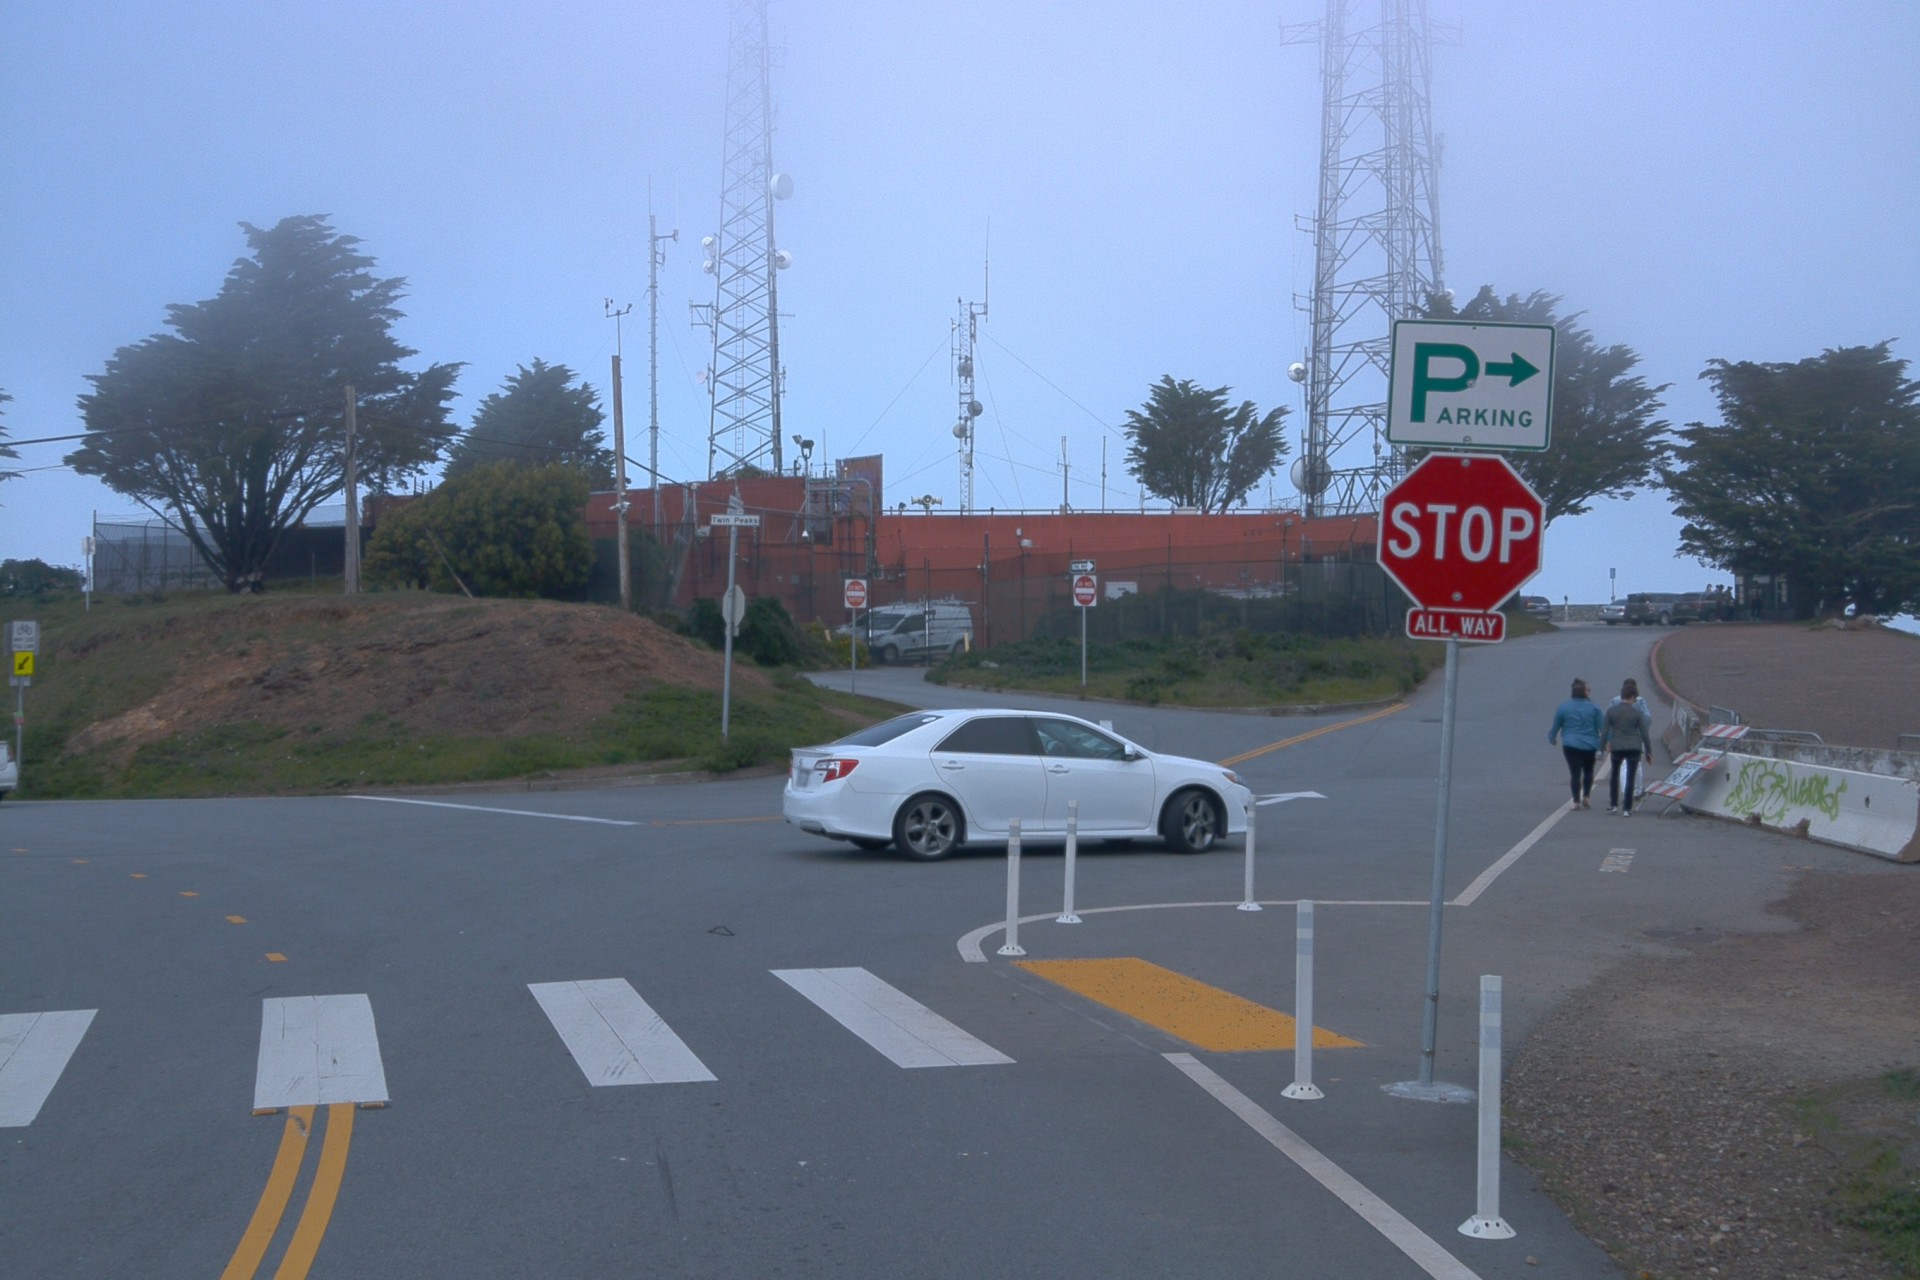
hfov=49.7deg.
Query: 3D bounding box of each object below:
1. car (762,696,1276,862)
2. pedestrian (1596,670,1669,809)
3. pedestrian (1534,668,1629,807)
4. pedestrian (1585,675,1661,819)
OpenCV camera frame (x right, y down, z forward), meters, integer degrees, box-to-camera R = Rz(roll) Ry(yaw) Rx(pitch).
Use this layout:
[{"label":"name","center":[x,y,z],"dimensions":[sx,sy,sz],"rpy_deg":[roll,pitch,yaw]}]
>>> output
[{"label":"car","center":[0.575,1.328,20.889],"dimensions":[4.694,1.440,2.174],"rpy_deg":[0,0,-22]},{"label":"pedestrian","center":[8.949,1.303,27.559],"dimensions":[0.818,1.790,0.934],"rpy_deg":[0,0,25]},{"label":"pedestrian","center":[7.965,1.234,26.578],"dimensions":[1.111,1.730,1.063],"rpy_deg":[0,0,14]},{"label":"pedestrian","center":[8.182,1.303,25.609],"dimensions":[0.732,1.720,1.095],"rpy_deg":[0,0,9]}]
